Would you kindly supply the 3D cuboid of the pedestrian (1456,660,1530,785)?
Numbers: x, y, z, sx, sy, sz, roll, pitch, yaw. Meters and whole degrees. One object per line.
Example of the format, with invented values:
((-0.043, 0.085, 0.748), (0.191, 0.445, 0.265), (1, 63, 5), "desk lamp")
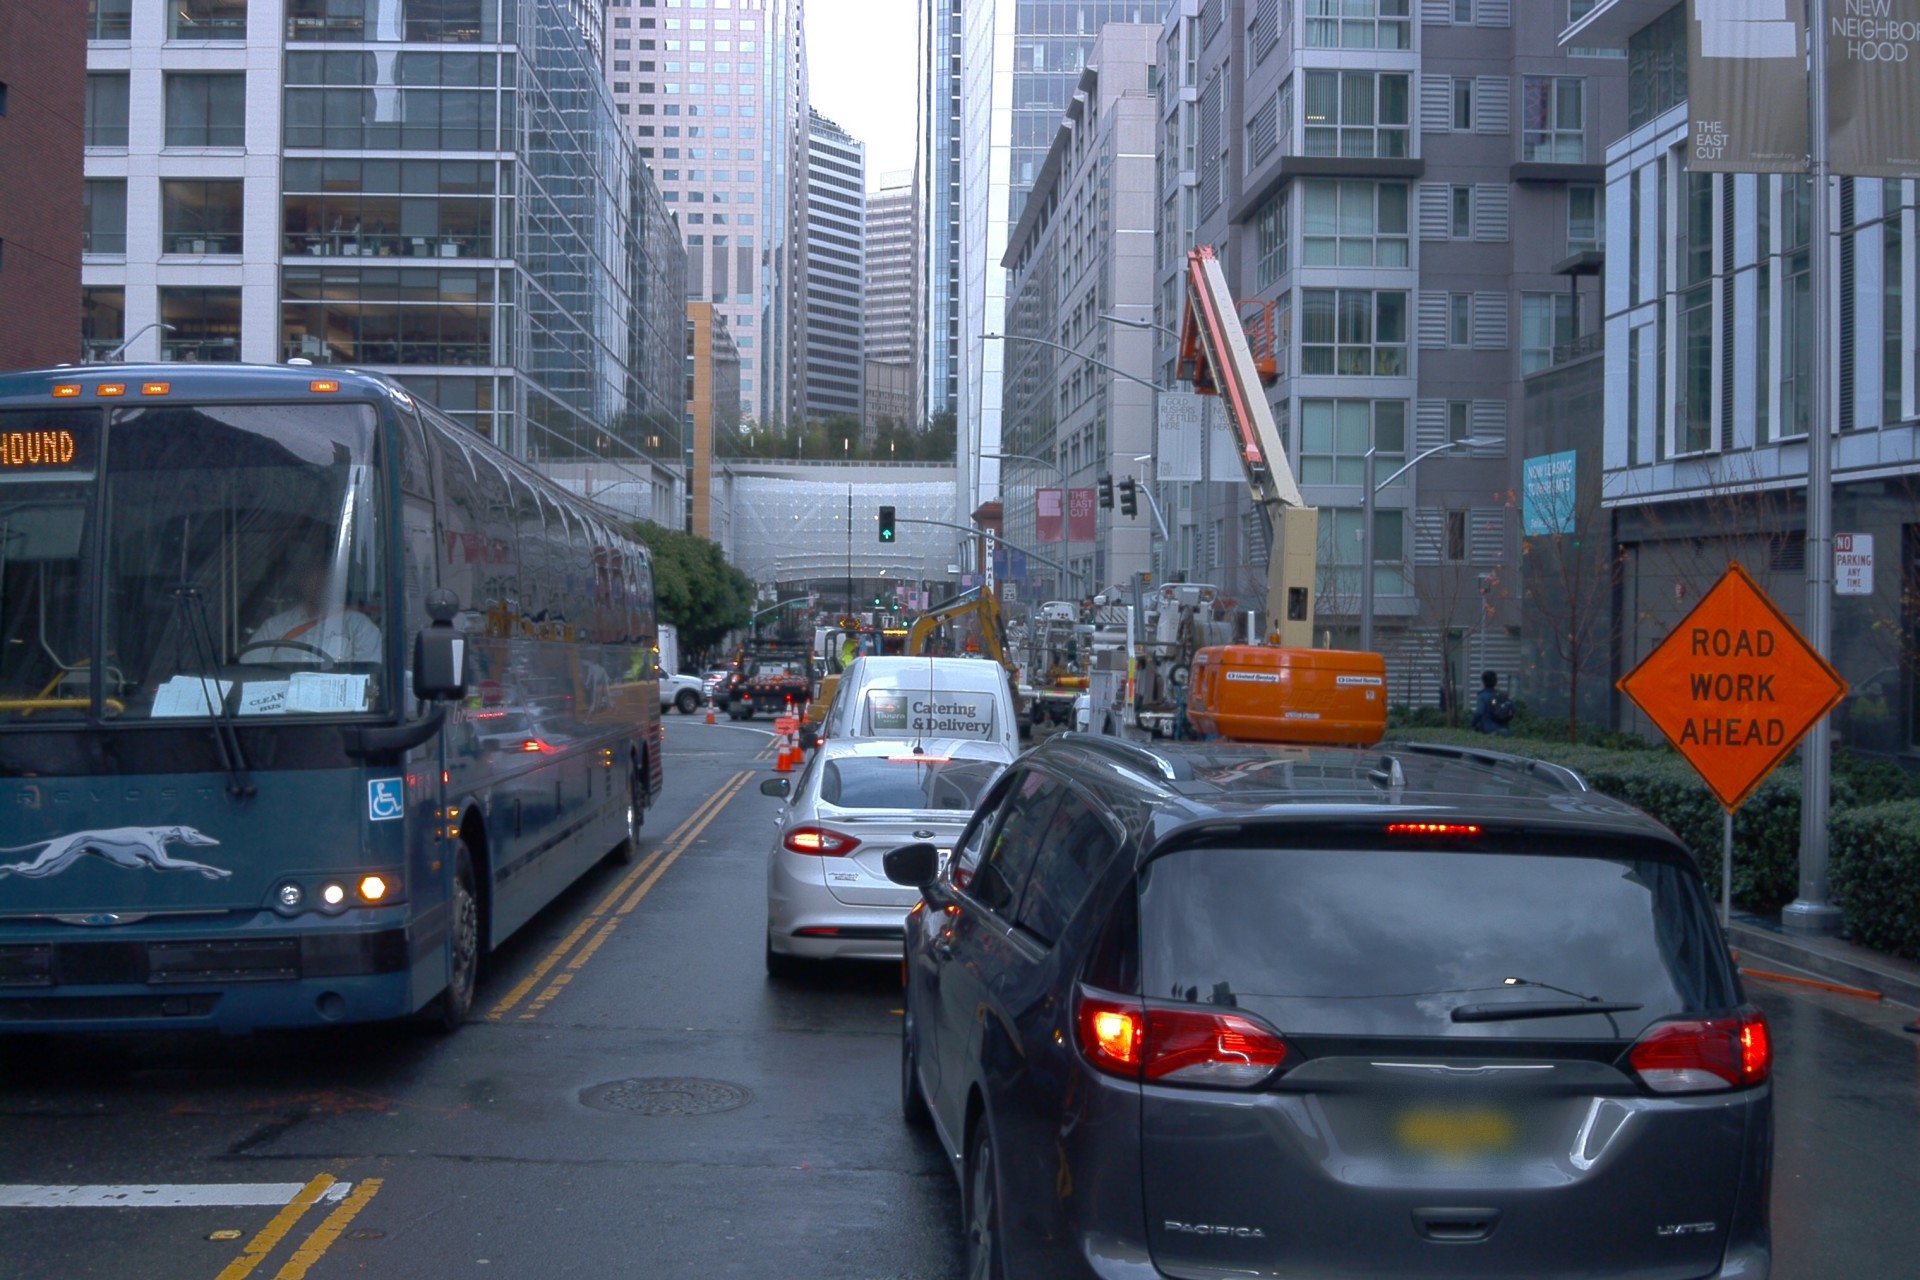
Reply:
((8.021, 1.235, 31.037), (0.833, 1.833, 0.889), (1, 0, -3), "pedestrian")

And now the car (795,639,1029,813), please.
((-0.548, 0.752, 19.614), (1.860, 1.470, 3.431), (1, 1, -7), "car")

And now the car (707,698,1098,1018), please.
((-0.381, 1.285, 13.932), (2.164, 1.580, 4.901), (1, 1, -1), "car")

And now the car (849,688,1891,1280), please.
((0.800, 1.126, 6.918), (2.058, 1.750, 4.787), (1, 1, -6), "car")
